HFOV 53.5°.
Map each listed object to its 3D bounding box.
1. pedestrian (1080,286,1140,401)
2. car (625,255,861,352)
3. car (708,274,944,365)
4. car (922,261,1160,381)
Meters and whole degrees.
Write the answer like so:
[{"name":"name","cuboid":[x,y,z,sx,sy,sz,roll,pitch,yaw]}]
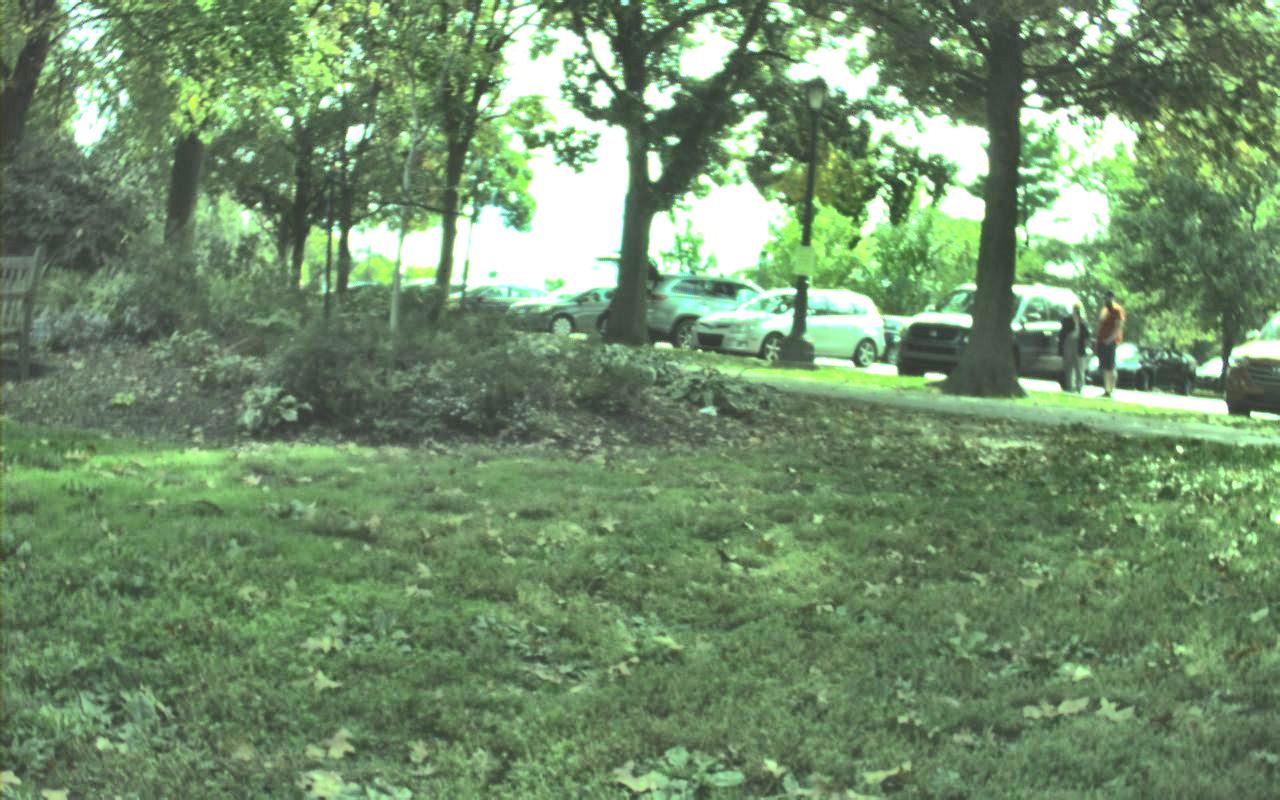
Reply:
[{"name":"pedestrian","cuboid":[7.811,-0.897,19.941,0.759,1.869,0.766,0,0,-37]},{"name":"car","cuboid":[2.250,-1.999,27.141,4.702,1.842,2.031,0,1,-27]},{"name":"car","cuboid":[3.780,-1.507,24.922,4.675,1.599,1.970,0,1,-36]},{"name":"car","cuboid":[6.752,-1.175,20.031,4.630,1.748,2.036,-1,1,-42]}]
